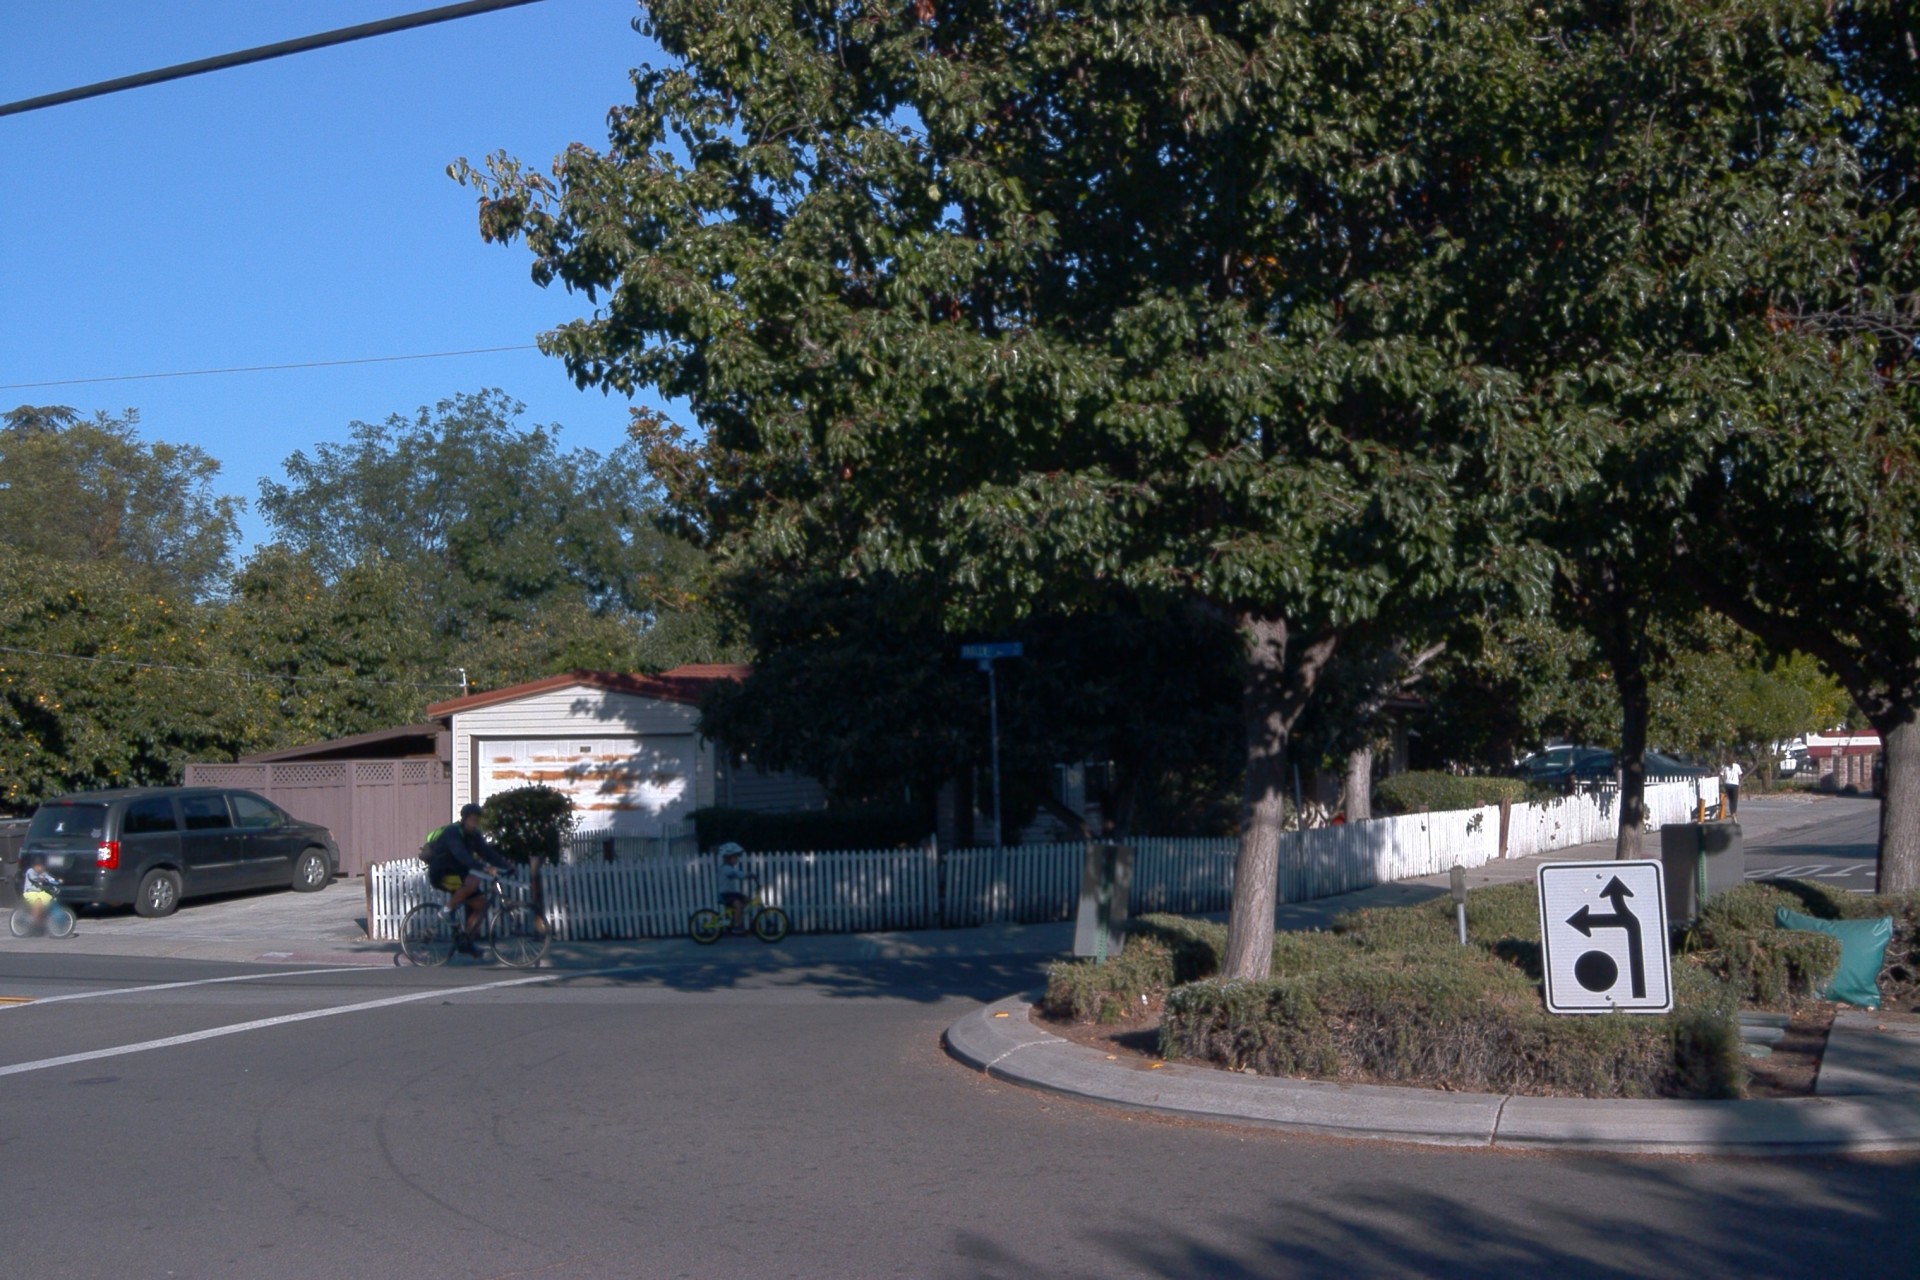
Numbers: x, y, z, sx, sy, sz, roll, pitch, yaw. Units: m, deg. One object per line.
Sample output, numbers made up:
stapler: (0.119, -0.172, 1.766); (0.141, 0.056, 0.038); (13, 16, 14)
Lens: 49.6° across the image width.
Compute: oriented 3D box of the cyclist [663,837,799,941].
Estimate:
cyclist: (-2.525, 2.745, 22.999); (1.334, 1.030, 0.690); (1, 0, 8)

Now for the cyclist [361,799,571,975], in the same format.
cyclist: (-5.200, 2.580, 21.905); (1.951, 1.668, 0.823); (1, 0, 15)
